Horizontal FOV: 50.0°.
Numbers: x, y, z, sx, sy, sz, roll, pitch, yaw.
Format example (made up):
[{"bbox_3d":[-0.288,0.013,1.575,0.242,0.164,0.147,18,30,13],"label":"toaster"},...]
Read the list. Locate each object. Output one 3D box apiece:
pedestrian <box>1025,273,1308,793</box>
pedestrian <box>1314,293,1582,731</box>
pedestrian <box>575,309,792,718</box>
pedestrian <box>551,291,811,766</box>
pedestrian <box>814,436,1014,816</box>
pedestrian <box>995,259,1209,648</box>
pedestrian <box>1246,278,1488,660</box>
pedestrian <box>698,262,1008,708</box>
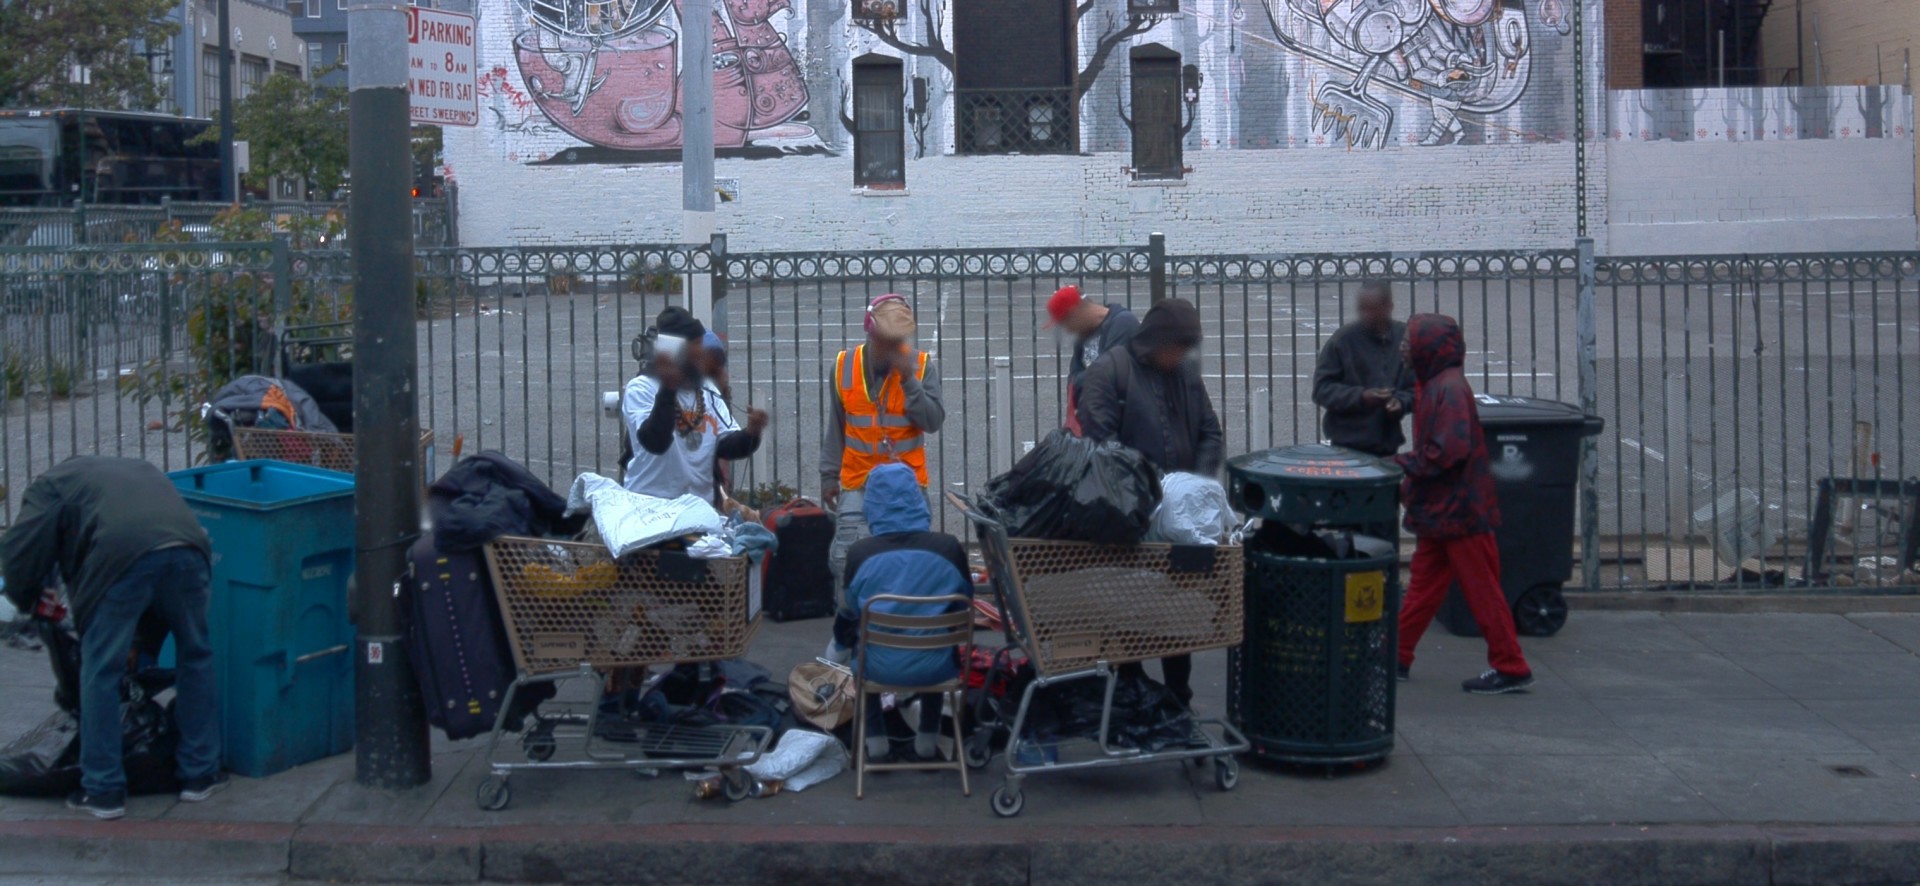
[{"bbox_3d":[0.806,0.294,8.148,0.853,1.907,0.747,-1,2,-24],"label":"pedestrian"},{"bbox_3d":[2.095,0.244,8.997,1.067,1.757,0.984,0,2,9],"label":"pedestrian"},{"bbox_3d":[-1.196,0.260,9.095,0.733,1.657,1.021,0,2,6],"label":"pedestrian"},{"bbox_3d":[-1.088,0.293,8.221,0.887,1.767,0.832,0,2,3],"label":"pedestrian"},{"bbox_3d":[-0.155,0.651,7.672,0.708,1.278,0.715,0,2,2],"label":"pedestrian"},{"bbox_3d":[0.705,0.003,10.287,0.721,1.827,0.787,-1,2,-41],"label":"pedestrian"},{"bbox_3d":[1.982,0.087,10.162,1.086,1.777,0.844,0,2,5],"label":"pedestrian"},{"bbox_3d":[-0.464,0.122,9.131,1.110,1.827,0.830,1,2,26],"label":"pedestrian"}]
